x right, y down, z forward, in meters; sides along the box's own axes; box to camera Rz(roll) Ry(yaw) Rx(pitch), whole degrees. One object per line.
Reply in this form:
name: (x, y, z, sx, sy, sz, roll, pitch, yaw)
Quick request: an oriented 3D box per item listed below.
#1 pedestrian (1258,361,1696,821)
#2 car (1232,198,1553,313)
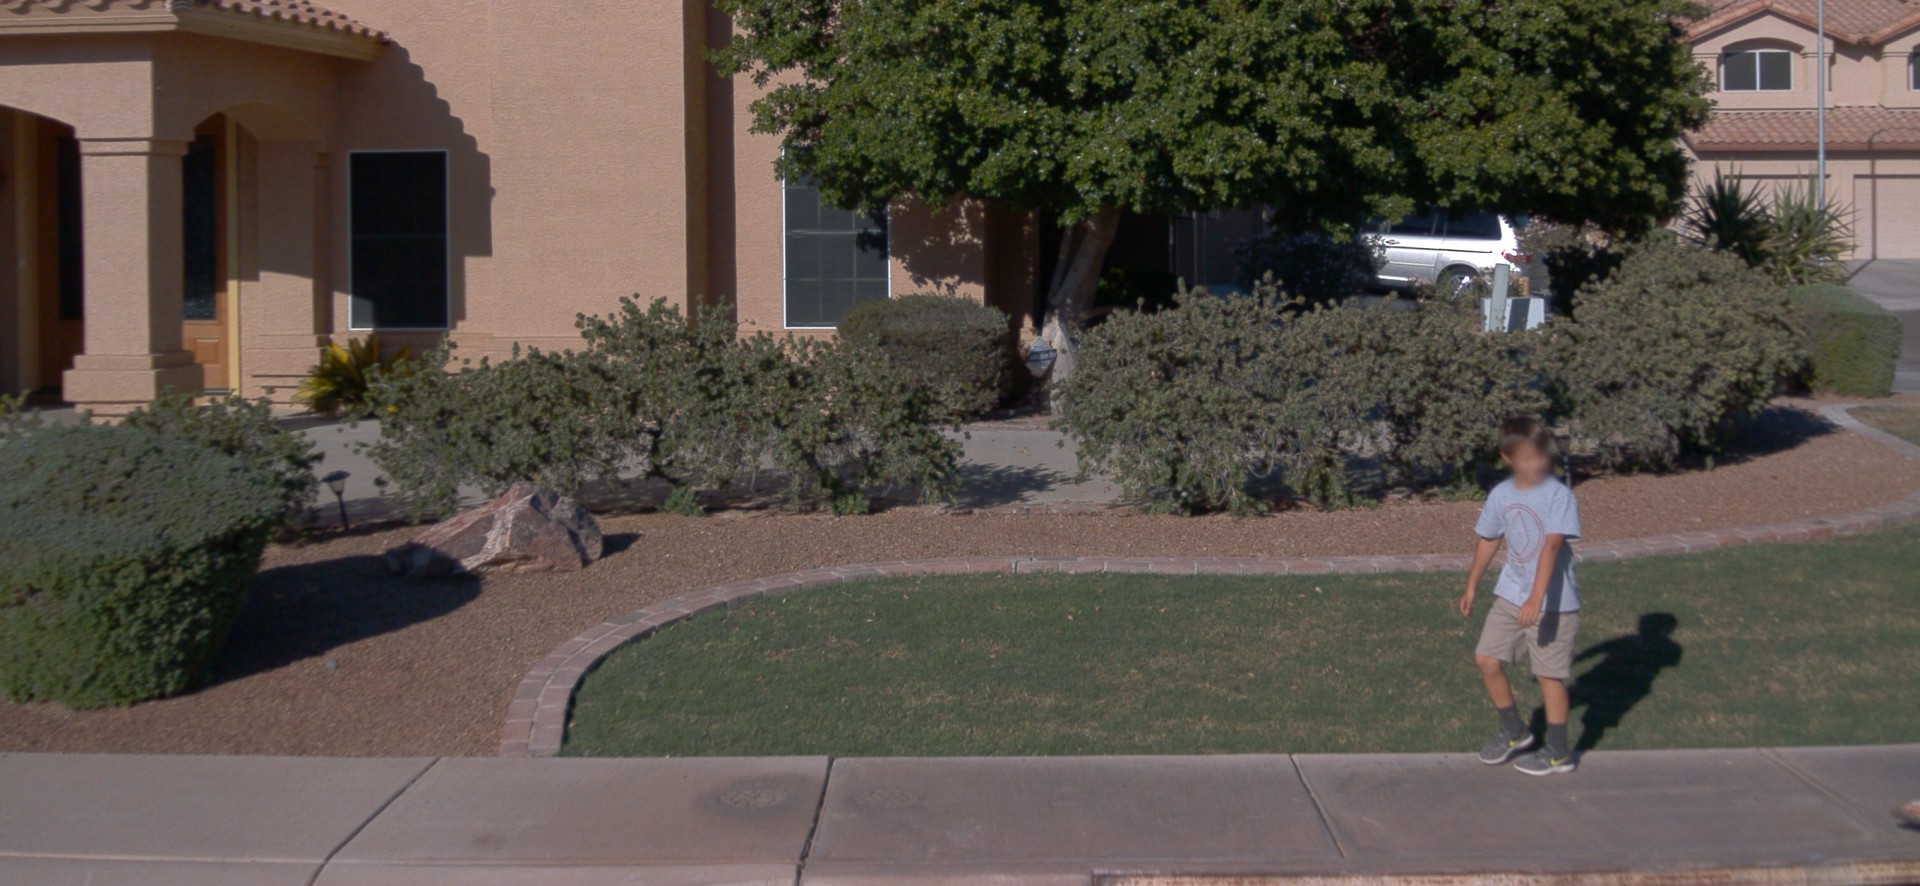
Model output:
pedestrian: (1.851, 0.474, 7.657, 1.258, 1.457, 1.214, 0, 3, -5)
car: (7.572, -3.344, 36.493, 5.038, 1.893, 2.276, 3, 5, 32)
